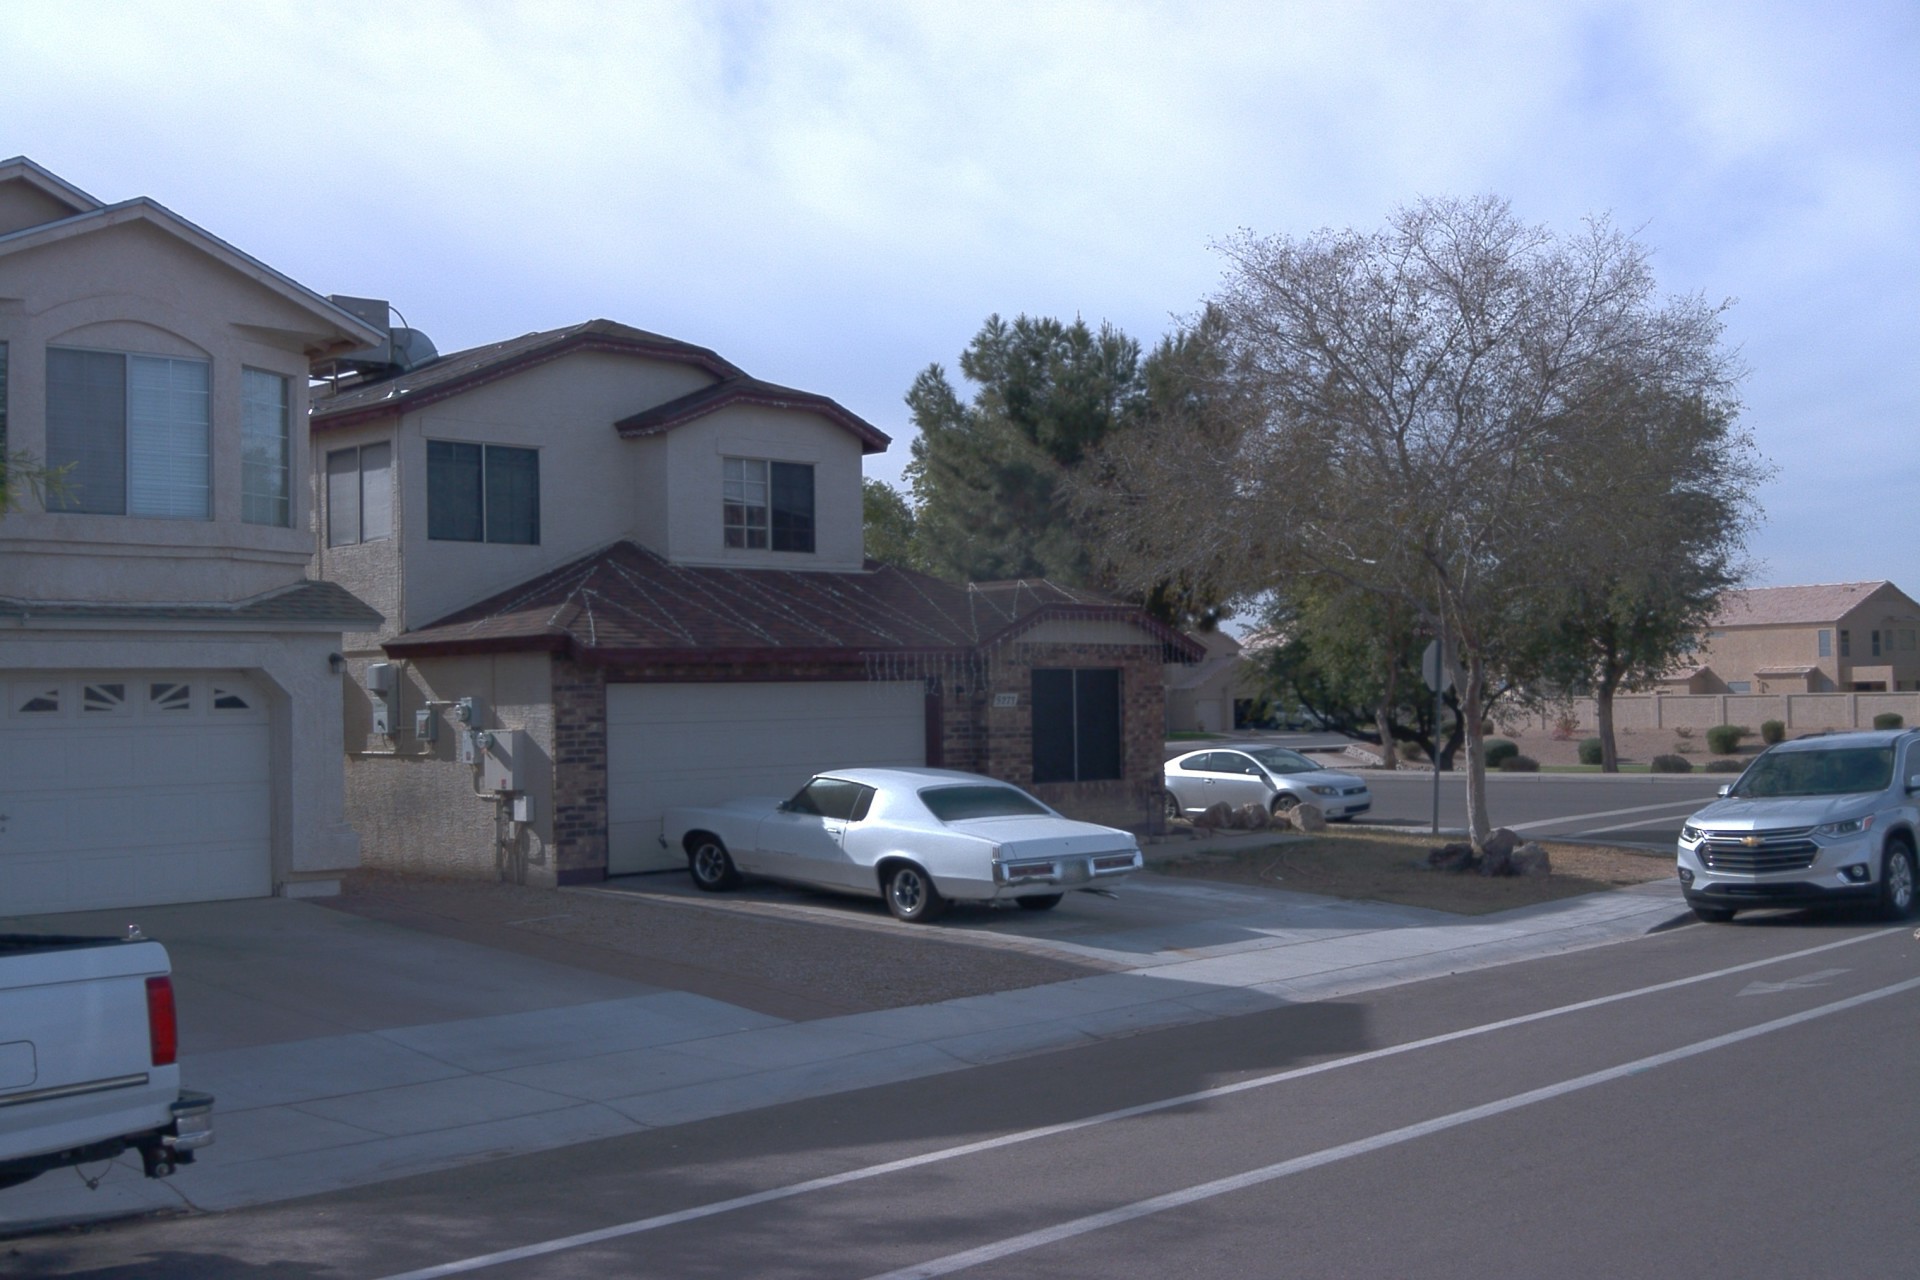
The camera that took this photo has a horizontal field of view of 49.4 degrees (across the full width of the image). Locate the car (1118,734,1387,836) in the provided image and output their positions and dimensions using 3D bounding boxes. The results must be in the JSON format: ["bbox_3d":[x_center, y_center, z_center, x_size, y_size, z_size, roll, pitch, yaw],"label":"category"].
[{"bbox_3d":[5.193,2.544,37.451,4.427,1.550,2.068,0,-1,45],"label":"car"}]

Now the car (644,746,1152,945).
[{"bbox_3d":[-0.761,1.904,20.642,2.100,1.500,5.257,1,-1,-42],"label":"car"}]
